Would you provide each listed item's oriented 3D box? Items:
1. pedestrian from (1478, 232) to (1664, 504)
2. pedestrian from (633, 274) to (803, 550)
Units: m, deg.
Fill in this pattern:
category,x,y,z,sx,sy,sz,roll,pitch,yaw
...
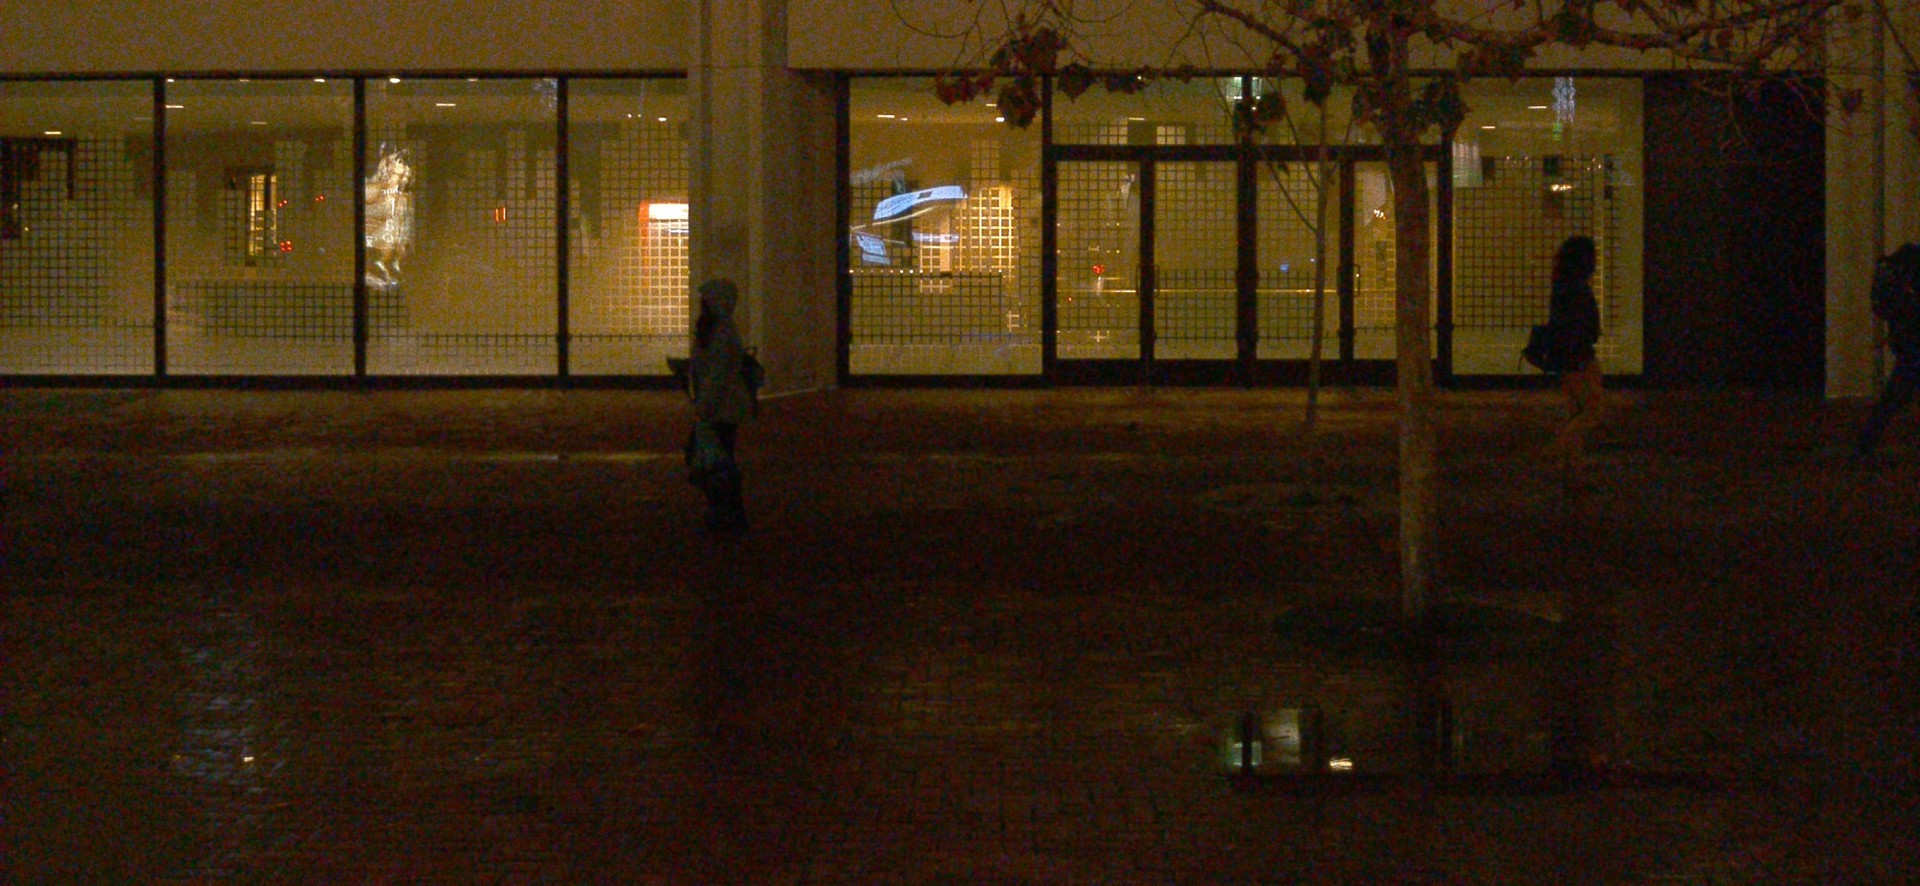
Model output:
category,x,y,z,sx,sy,sz,roll,pitch,yaw
pedestrian,4.106,-0.525,13.892,1.048,1.781,0.731,0,0,2
pedestrian,-1.434,-0.218,12.364,0.868,1.581,0.942,0,1,3
